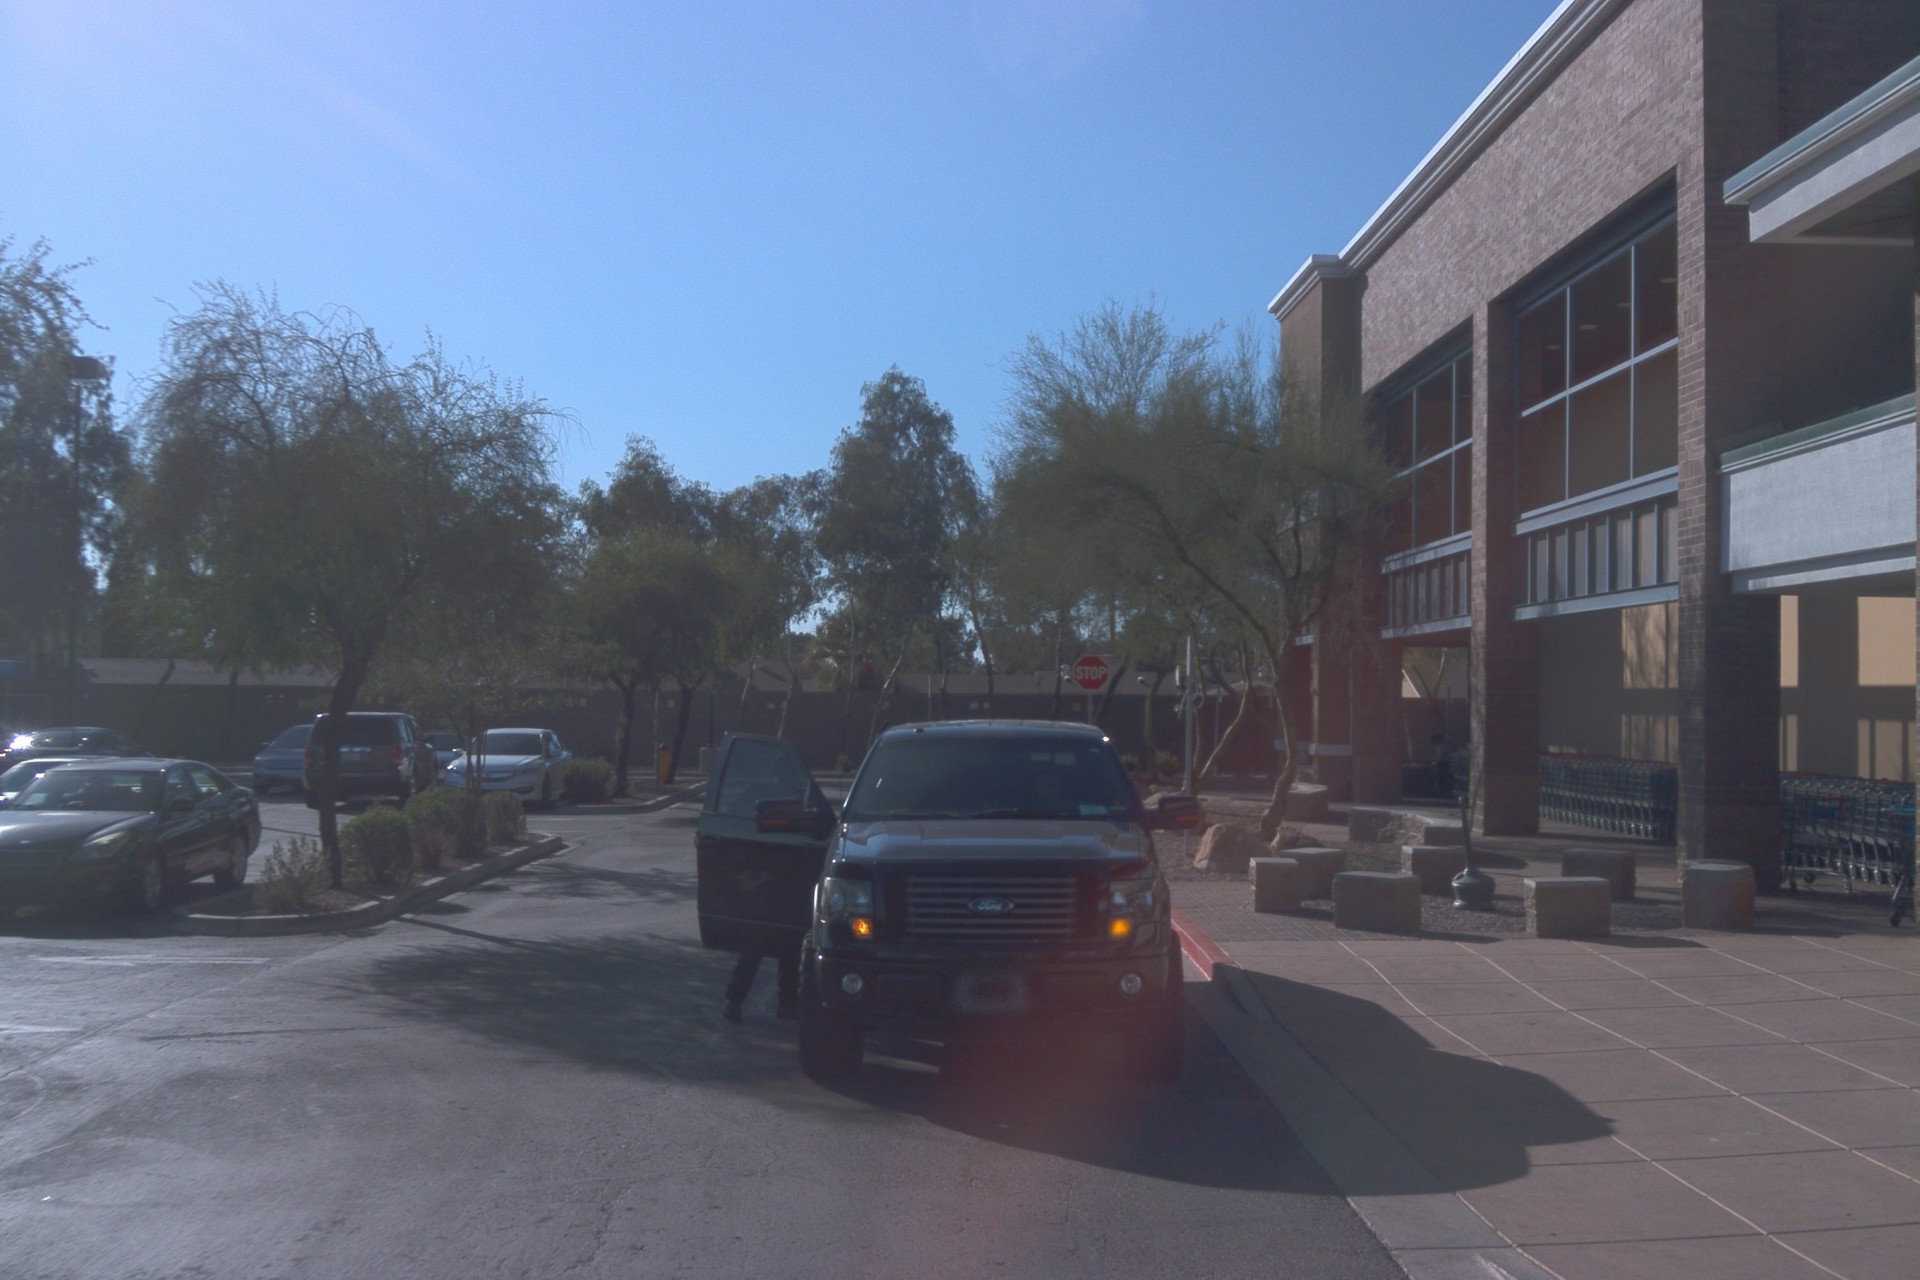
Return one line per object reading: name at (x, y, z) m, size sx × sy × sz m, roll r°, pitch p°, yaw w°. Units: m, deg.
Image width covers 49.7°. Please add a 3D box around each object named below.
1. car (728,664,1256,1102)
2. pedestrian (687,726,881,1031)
car at (0.131, 1.293, 13.333) m, size 2.653 × 2.190 × 5.667 m, roll -1°, pitch -1°, yaw 0°
pedestrian at (-1.119, 1.510, 13.490) m, size 1.183 × 1.870 × 1.076 m, roll 0°, pitch -1°, yaw -1°
